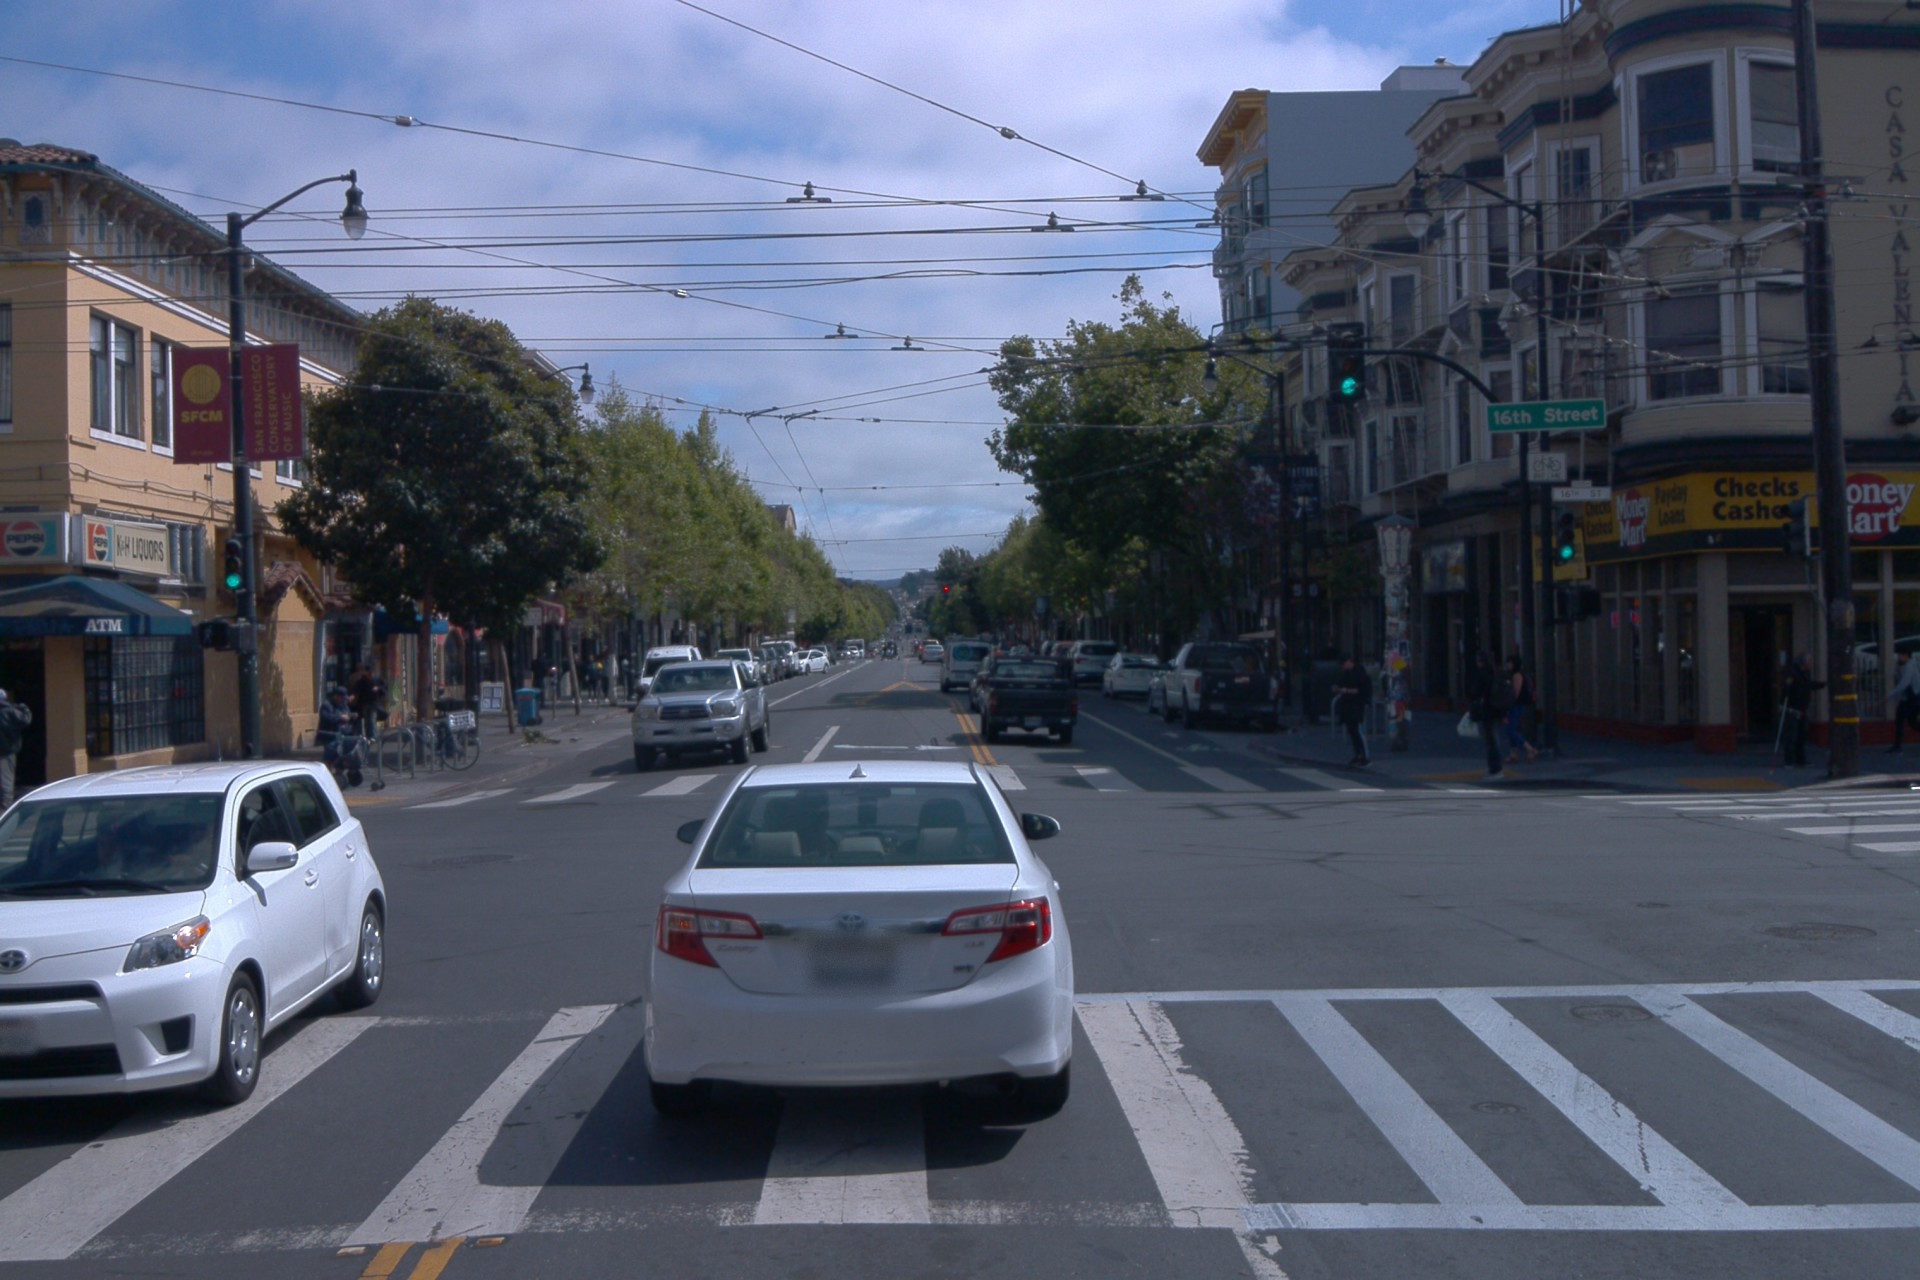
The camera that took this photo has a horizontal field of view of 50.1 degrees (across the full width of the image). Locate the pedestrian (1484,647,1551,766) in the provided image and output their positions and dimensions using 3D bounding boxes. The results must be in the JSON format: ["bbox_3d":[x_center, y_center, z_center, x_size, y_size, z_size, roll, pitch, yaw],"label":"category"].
[{"bbox_3d":[8.417,0.992,31.034,0.933,1.750,0.695,0,1,20],"label":"pedestrian"}]

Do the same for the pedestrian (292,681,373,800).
[{"bbox_3d":[-9.818,1.550,32.162,0.826,1.790,0.866,0,1,31],"label":"pedestrian"}]

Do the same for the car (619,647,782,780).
[{"bbox_3d":[-4.421,1.191,35.819,2.125,2.060,5.209,0,1,1],"label":"car"}]

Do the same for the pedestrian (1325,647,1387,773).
[{"bbox_3d":[6.147,1.078,31.938,0.766,1.920,0.749,0,1,-4],"label":"pedestrian"}]

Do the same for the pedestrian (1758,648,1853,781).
[{"bbox_3d":[11.819,1.013,28.780,1.002,1.790,1.326,0,1,13],"label":"pedestrian"}]

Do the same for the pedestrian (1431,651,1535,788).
[{"bbox_3d":[7.554,1.125,29.725,0.932,1.920,1.116,-1,1,-36],"label":"pedestrian"}]

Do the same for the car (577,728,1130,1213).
[{"bbox_3d":[-0.439,1.343,10.041,2.079,1.570,4.572,0,1,-1],"label":"car"}]
